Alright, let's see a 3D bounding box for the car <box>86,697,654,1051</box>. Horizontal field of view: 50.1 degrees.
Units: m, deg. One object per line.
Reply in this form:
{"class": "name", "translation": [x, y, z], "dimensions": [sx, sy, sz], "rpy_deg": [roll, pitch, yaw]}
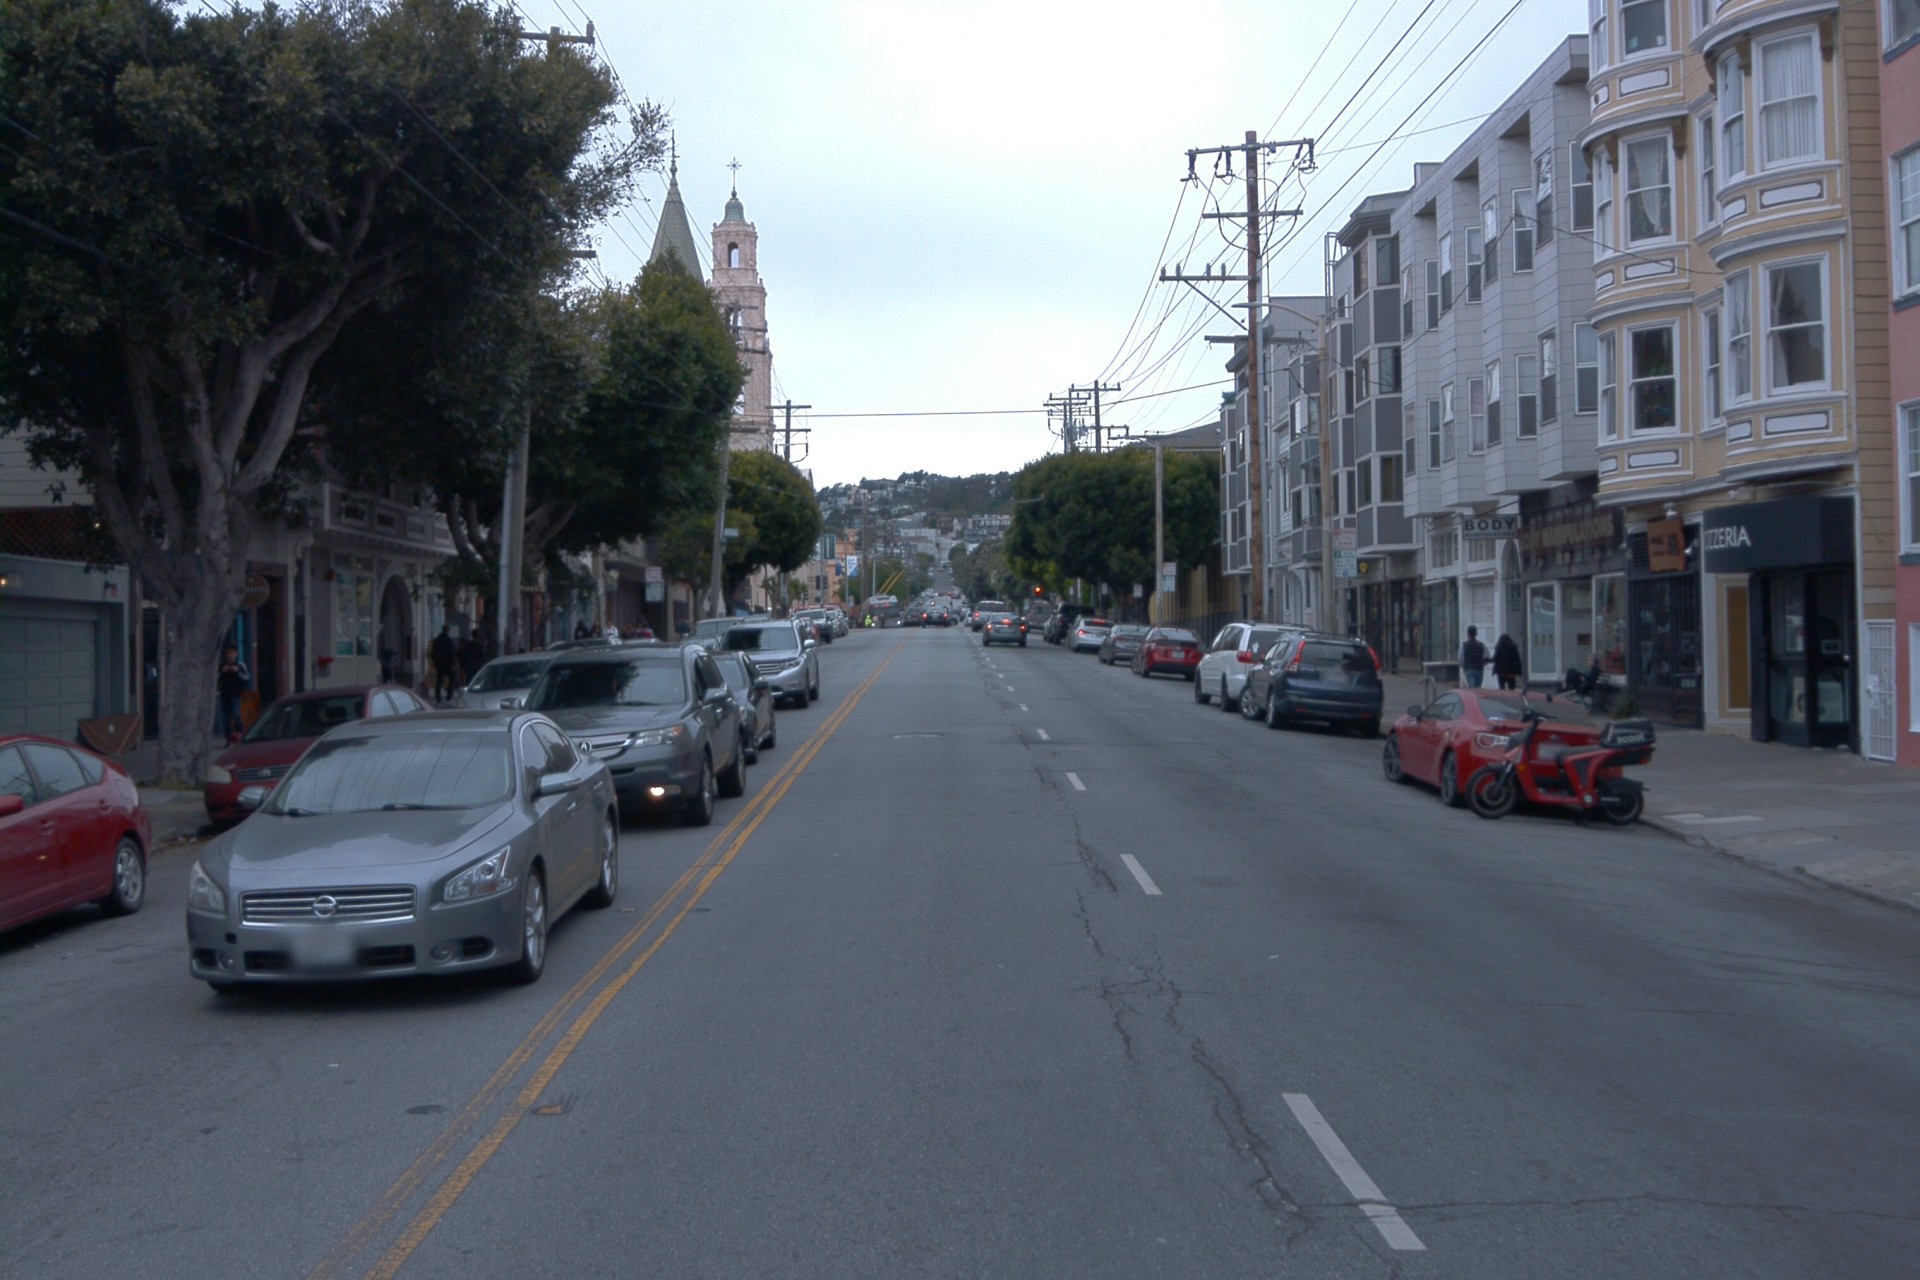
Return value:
{"class": "car", "translation": [-3.300, 1.238, 12.646], "dimensions": [2.085, 1.550, 4.767], "rpy_deg": [0, 1, 1]}

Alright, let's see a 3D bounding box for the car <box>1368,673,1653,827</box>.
{"class": "car", "translation": [6.123, 1.172, 23.430], "dimensions": [2.021, 1.450, 4.341], "rpy_deg": [0, 1, -1]}

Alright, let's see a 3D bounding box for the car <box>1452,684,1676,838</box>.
{"class": "car", "translation": [6.079, 1.208, 20.786], "dimensions": [2.015, 1.490, 0.827], "rpy_deg": [0, 1, 1]}

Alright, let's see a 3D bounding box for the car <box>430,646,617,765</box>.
{"class": "car", "translation": [-7.327, 1.050, 34.954], "dimensions": [2.121, 1.810, 4.216], "rpy_deg": [0, 1, 2]}

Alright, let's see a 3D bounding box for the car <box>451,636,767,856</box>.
{"class": "car", "translation": [-3.352, 0.943, 20.688], "dimensions": [2.264, 1.880, 4.792], "rpy_deg": [0, 1, 1]}

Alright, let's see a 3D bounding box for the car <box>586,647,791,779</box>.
{"class": "car", "translation": [-3.573, 0.921, 27.966], "dimensions": [2.136, 1.530, 4.854], "rpy_deg": [0, 1, 0]}

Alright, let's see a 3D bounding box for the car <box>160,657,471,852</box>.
{"class": "car", "translation": [-7.107, 1.191, 23.206], "dimensions": [1.945, 1.869, 4.477], "rpy_deg": [0, 1, 2]}

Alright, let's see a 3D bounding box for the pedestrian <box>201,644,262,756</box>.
{"class": "pedestrian", "translation": [-11.531, 0.937, 32.567], "dimensions": [0.660, 1.740, 0.867], "rpy_deg": [0, 1, -2]}

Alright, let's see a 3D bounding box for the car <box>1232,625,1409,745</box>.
{"class": "car", "translation": [6.106, 0.713, 35.388], "dimensions": [2.117, 1.880, 4.638], "rpy_deg": [0, 1, -2]}
